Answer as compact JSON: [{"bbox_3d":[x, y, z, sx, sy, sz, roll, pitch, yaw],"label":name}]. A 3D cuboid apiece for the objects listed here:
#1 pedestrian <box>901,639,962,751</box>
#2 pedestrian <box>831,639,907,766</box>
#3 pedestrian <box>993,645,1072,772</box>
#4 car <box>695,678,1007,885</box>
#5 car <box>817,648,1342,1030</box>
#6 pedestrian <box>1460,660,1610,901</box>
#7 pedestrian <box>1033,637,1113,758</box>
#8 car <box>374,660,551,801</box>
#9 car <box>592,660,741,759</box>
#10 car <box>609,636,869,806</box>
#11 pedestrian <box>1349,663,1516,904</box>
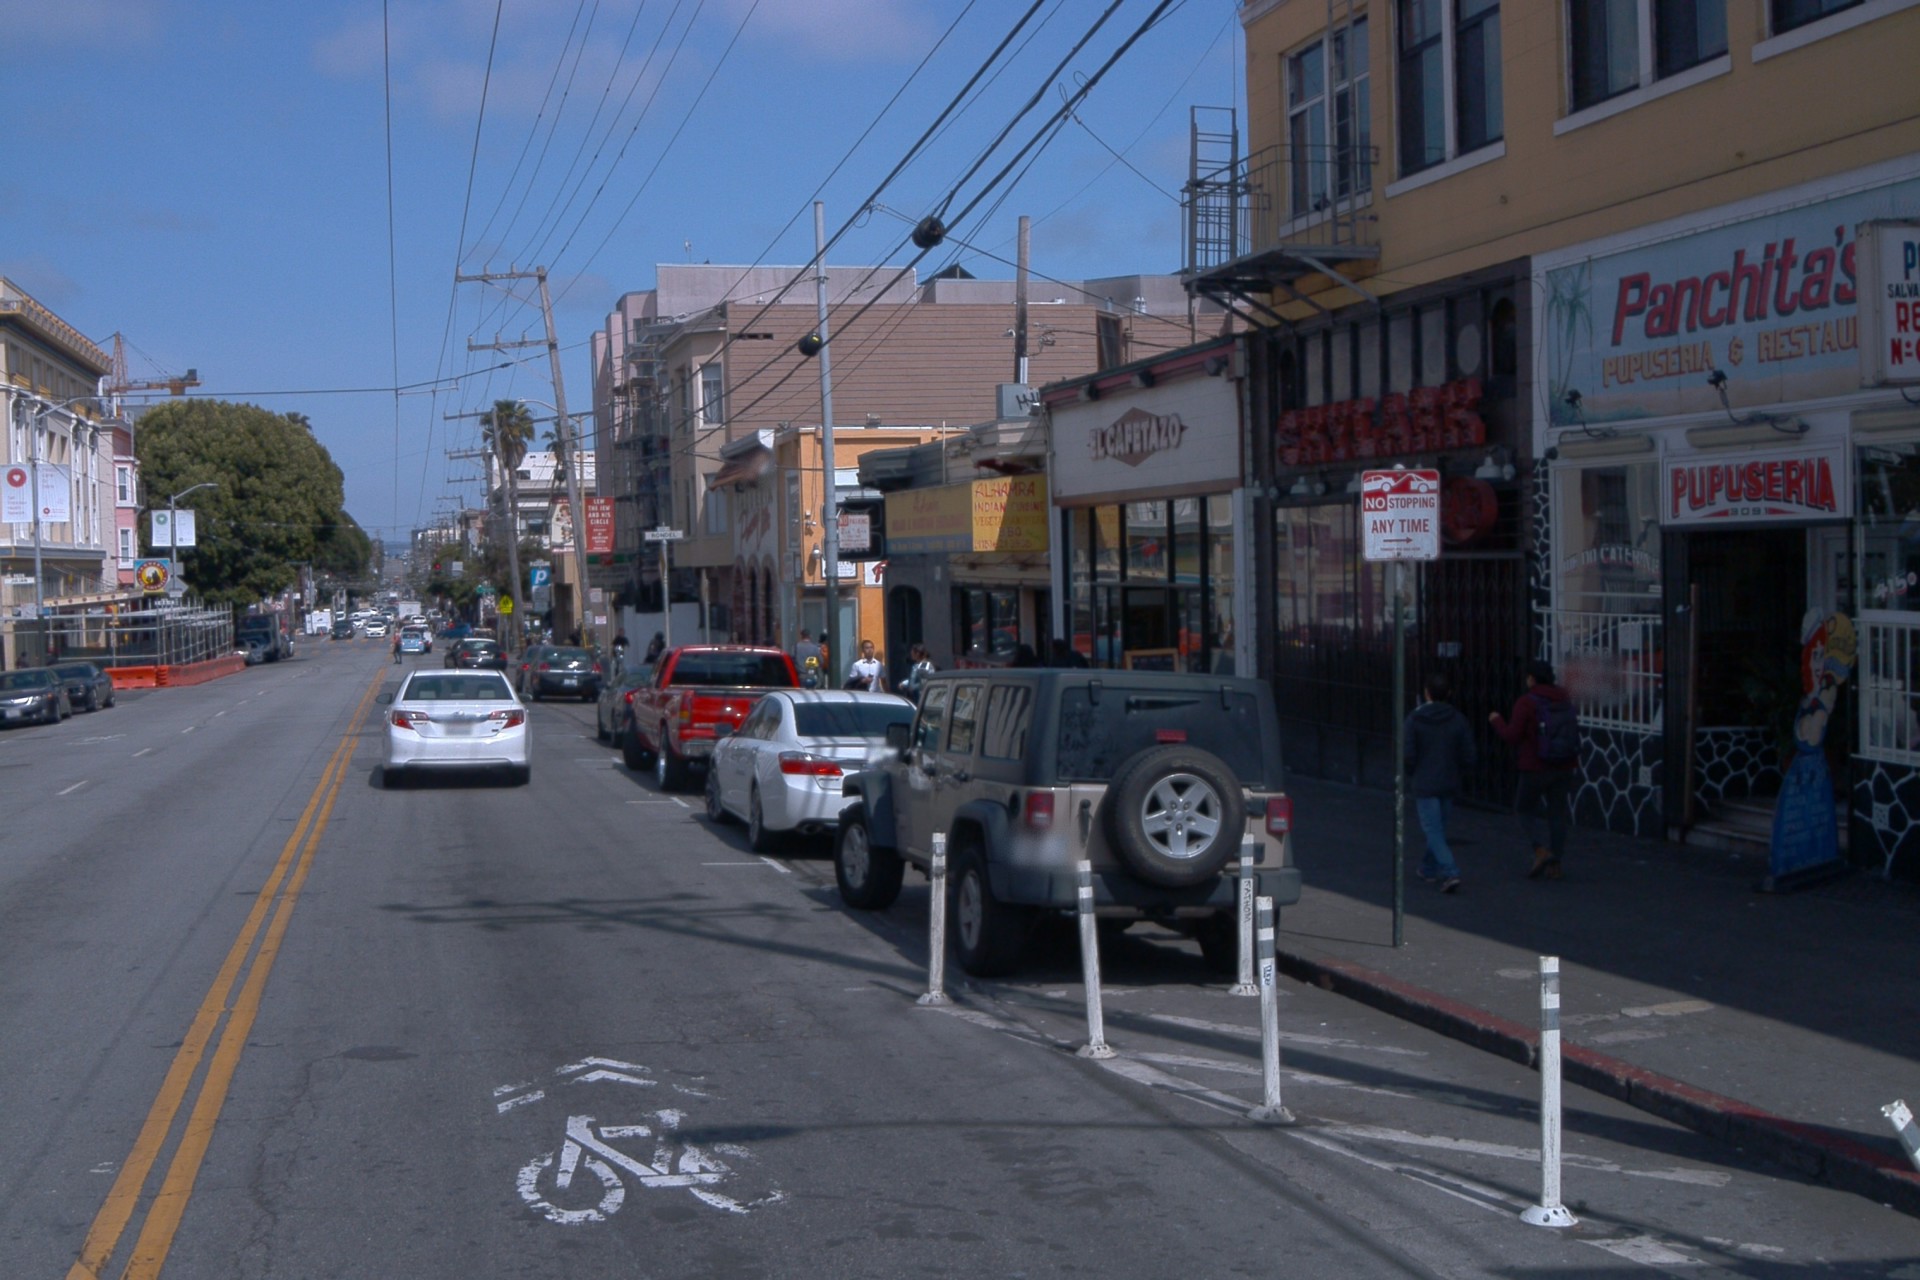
[{"bbox_3d":[-0.414,0.796,30.127,0.738,1.600,0.882,0,1,9],"label":"pedestrian"},{"bbox_3d":[-1.305,0.869,29.374,0.864,1.760,1.174,0,1,-13],"label":"pedestrian"},{"bbox_3d":[0.897,0.840,25.625,0.764,1.530,0.961,0,1,-12],"label":"pedestrian"},{"bbox_3d":[-1.221,1.243,19.969,2.100,1.580,4.871,0,1,-14],"label":"car"},{"bbox_3d":[0.532,1.080,13.577,2.015,1.960,4.739,0,1,-16],"label":"car"},{"bbox_3d":[4.121,0.982,14.783,0.747,1.650,0.862,0,1,-8],"label":"pedestrian"},{"bbox_3d":[1.521,0.765,27.852,0.917,1.600,0.703,0,1,-13],"label":"pedestrian"},{"bbox_3d":[-6.565,1.112,27.089,2.075,1.570,4.582,0,1,-14],"label":"car"},{"bbox_3d":[-5.067,1.129,34.980,1.863,1.460,4.436,0,1,-17],"label":"car"},{"bbox_3d":[-3.064,0.943,27.072,2.357,1.910,5.694,0,1,-17],"label":"car"},{"bbox_3d":[3.361,0.995,14.685,0.881,1.630,0.915,0,1,-9],"label":"pedestrian"}]
